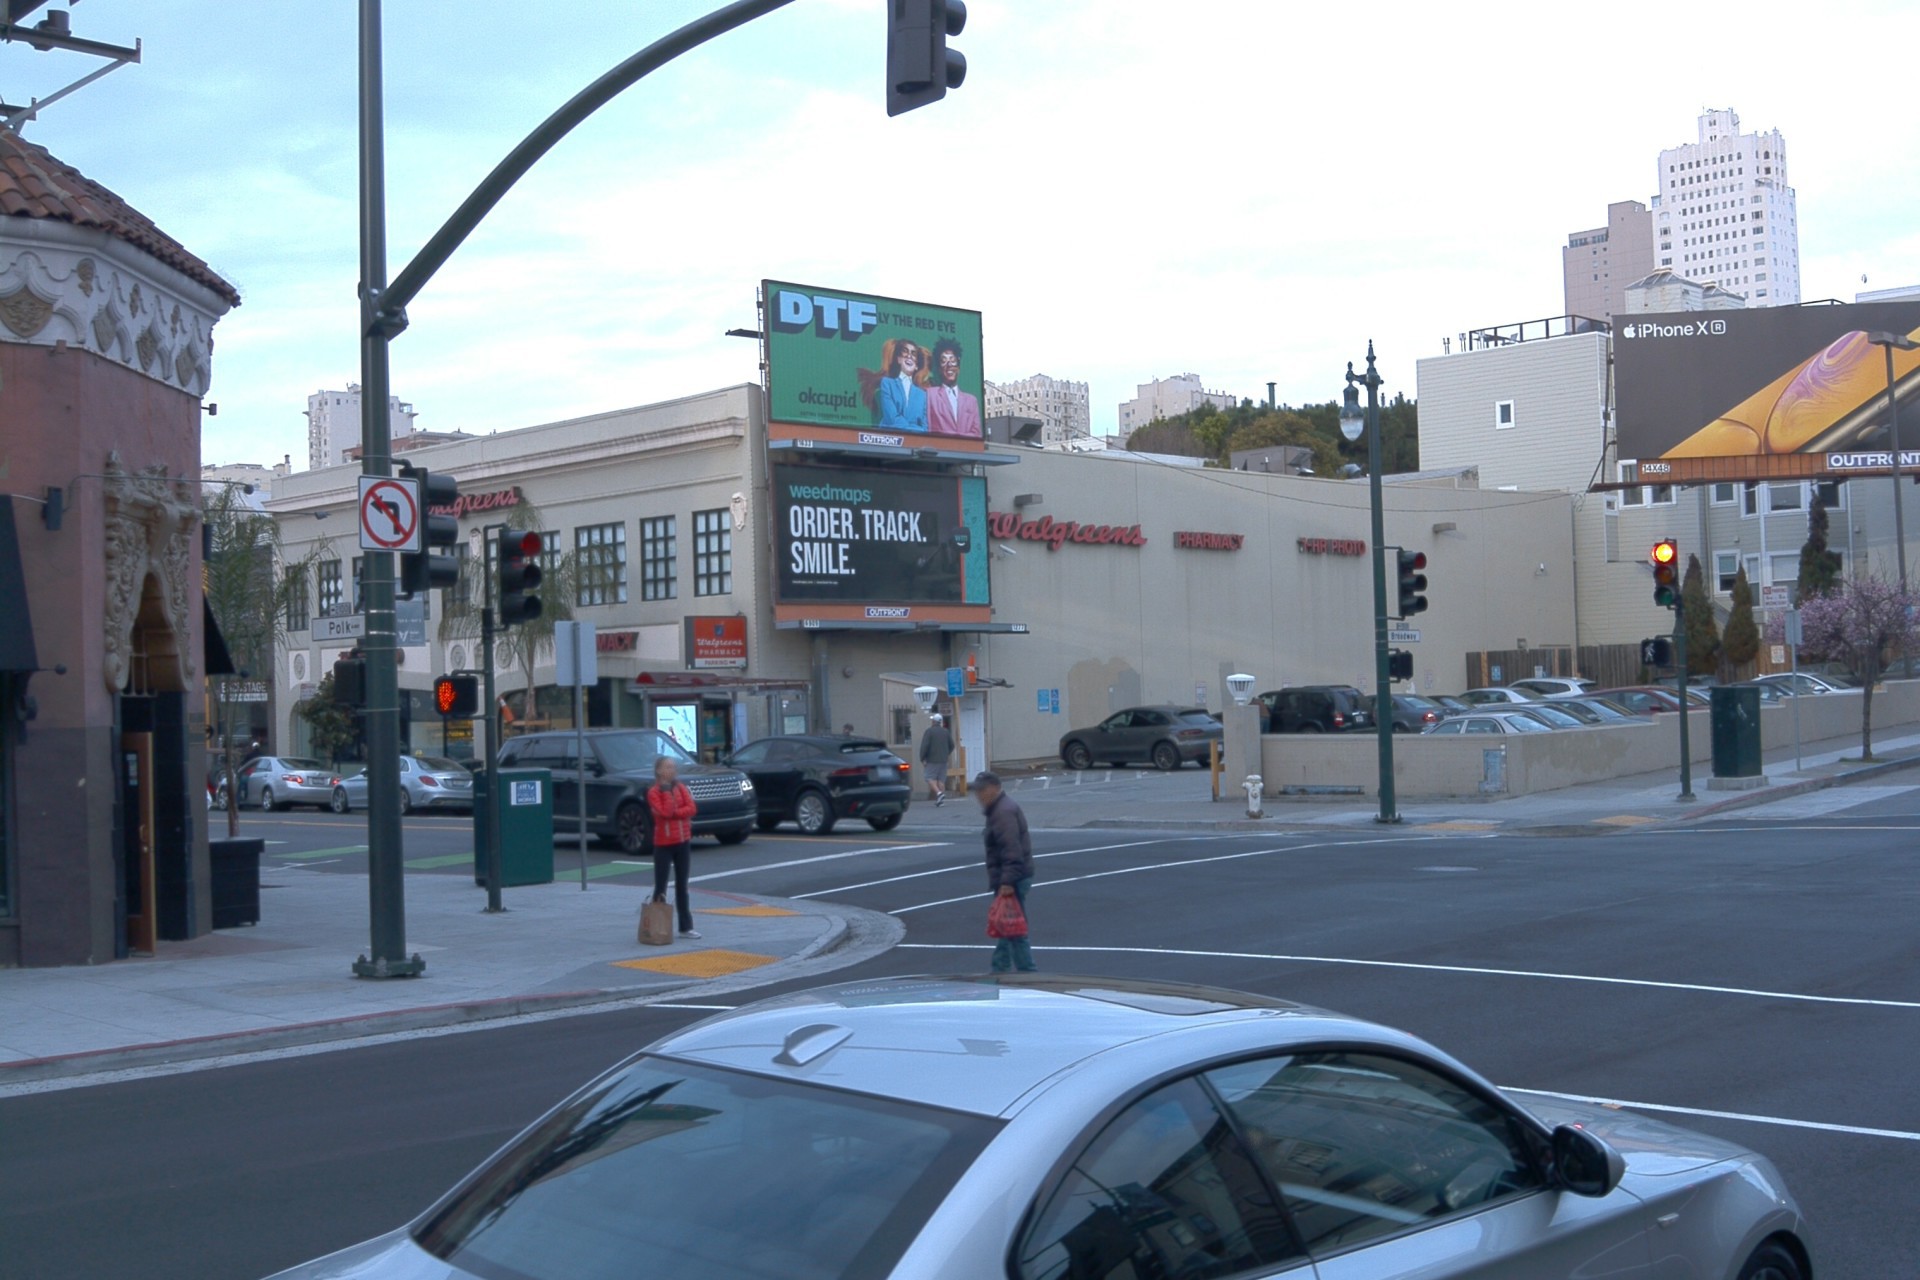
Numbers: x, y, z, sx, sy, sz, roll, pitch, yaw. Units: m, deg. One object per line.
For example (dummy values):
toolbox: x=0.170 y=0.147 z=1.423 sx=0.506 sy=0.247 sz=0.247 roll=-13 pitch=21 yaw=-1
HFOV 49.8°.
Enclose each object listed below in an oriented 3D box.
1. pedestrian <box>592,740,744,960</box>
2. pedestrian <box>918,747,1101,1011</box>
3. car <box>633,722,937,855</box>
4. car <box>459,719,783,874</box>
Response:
pedestrian: x=-2.696 y=1.904 z=19.119 sx=0.861 sy=1.879 sz=1.070 roll=2 pitch=1 yaw=40
pedestrian: x=0.342 y=1.626 z=14.407 sx=0.914 sy=1.680 sz=0.856 roll=2 pitch=1 yaw=44
car: x=-2.954 y=2.389 z=34.293 sx=4.868 sy=1.760 sz=2.239 roll=1 pitch=1 yaw=41
car: x=-5.263 y=2.292 z=31.611 sx=5.170 sy=1.890 sz=2.224 roll=2 pitch=1 yaw=44
